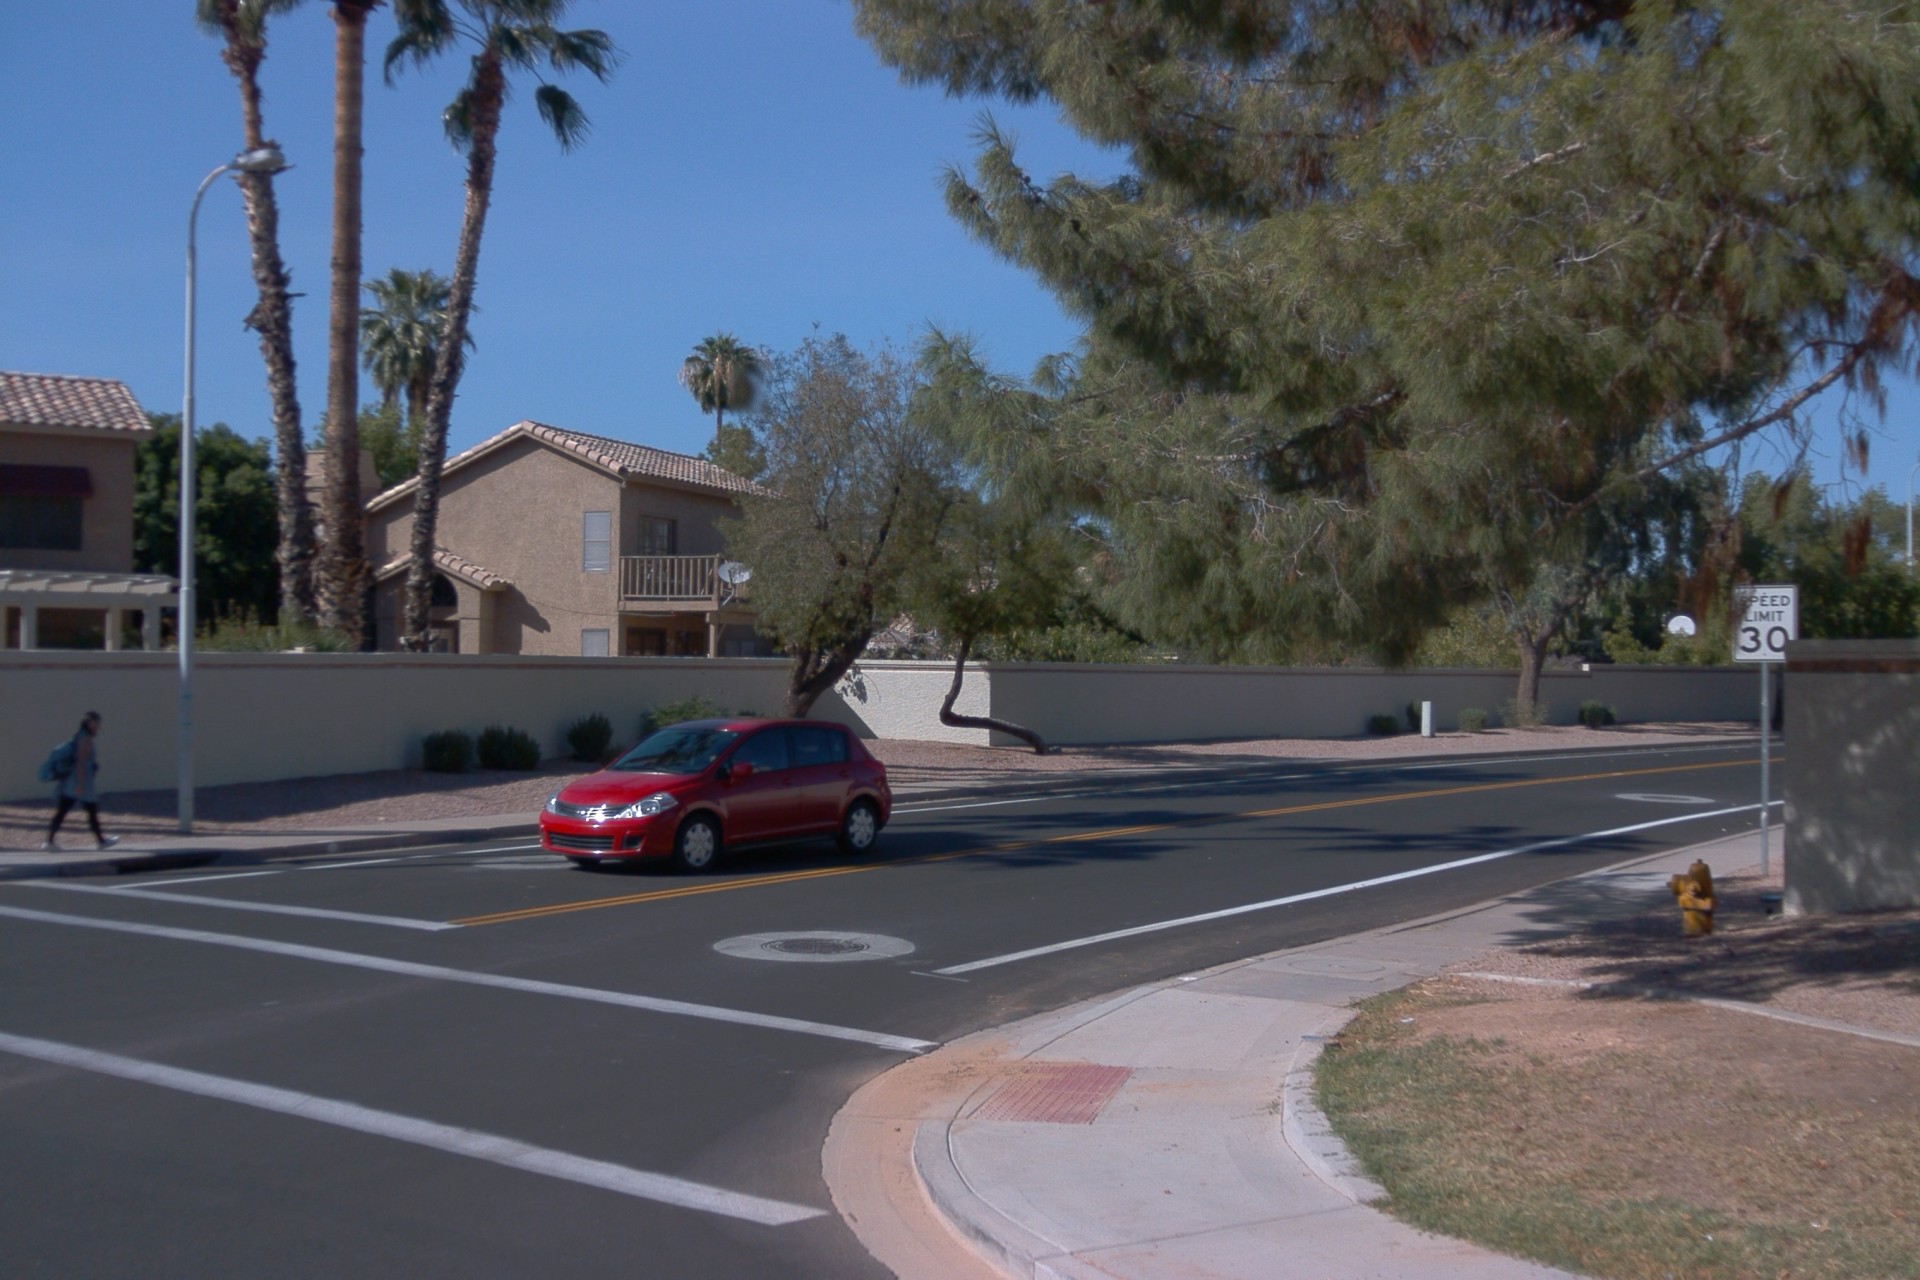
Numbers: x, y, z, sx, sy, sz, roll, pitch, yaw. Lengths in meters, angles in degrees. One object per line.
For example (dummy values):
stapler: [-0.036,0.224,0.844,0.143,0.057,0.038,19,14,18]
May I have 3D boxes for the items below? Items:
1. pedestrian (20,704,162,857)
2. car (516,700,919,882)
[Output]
pedestrian: [-9.277,1.473,22.099,1.008,1.560,0.992,0,-1,32]
car: [-2.490,1.522,22.192,1.954,1.680,4.192,0,-1,37]
